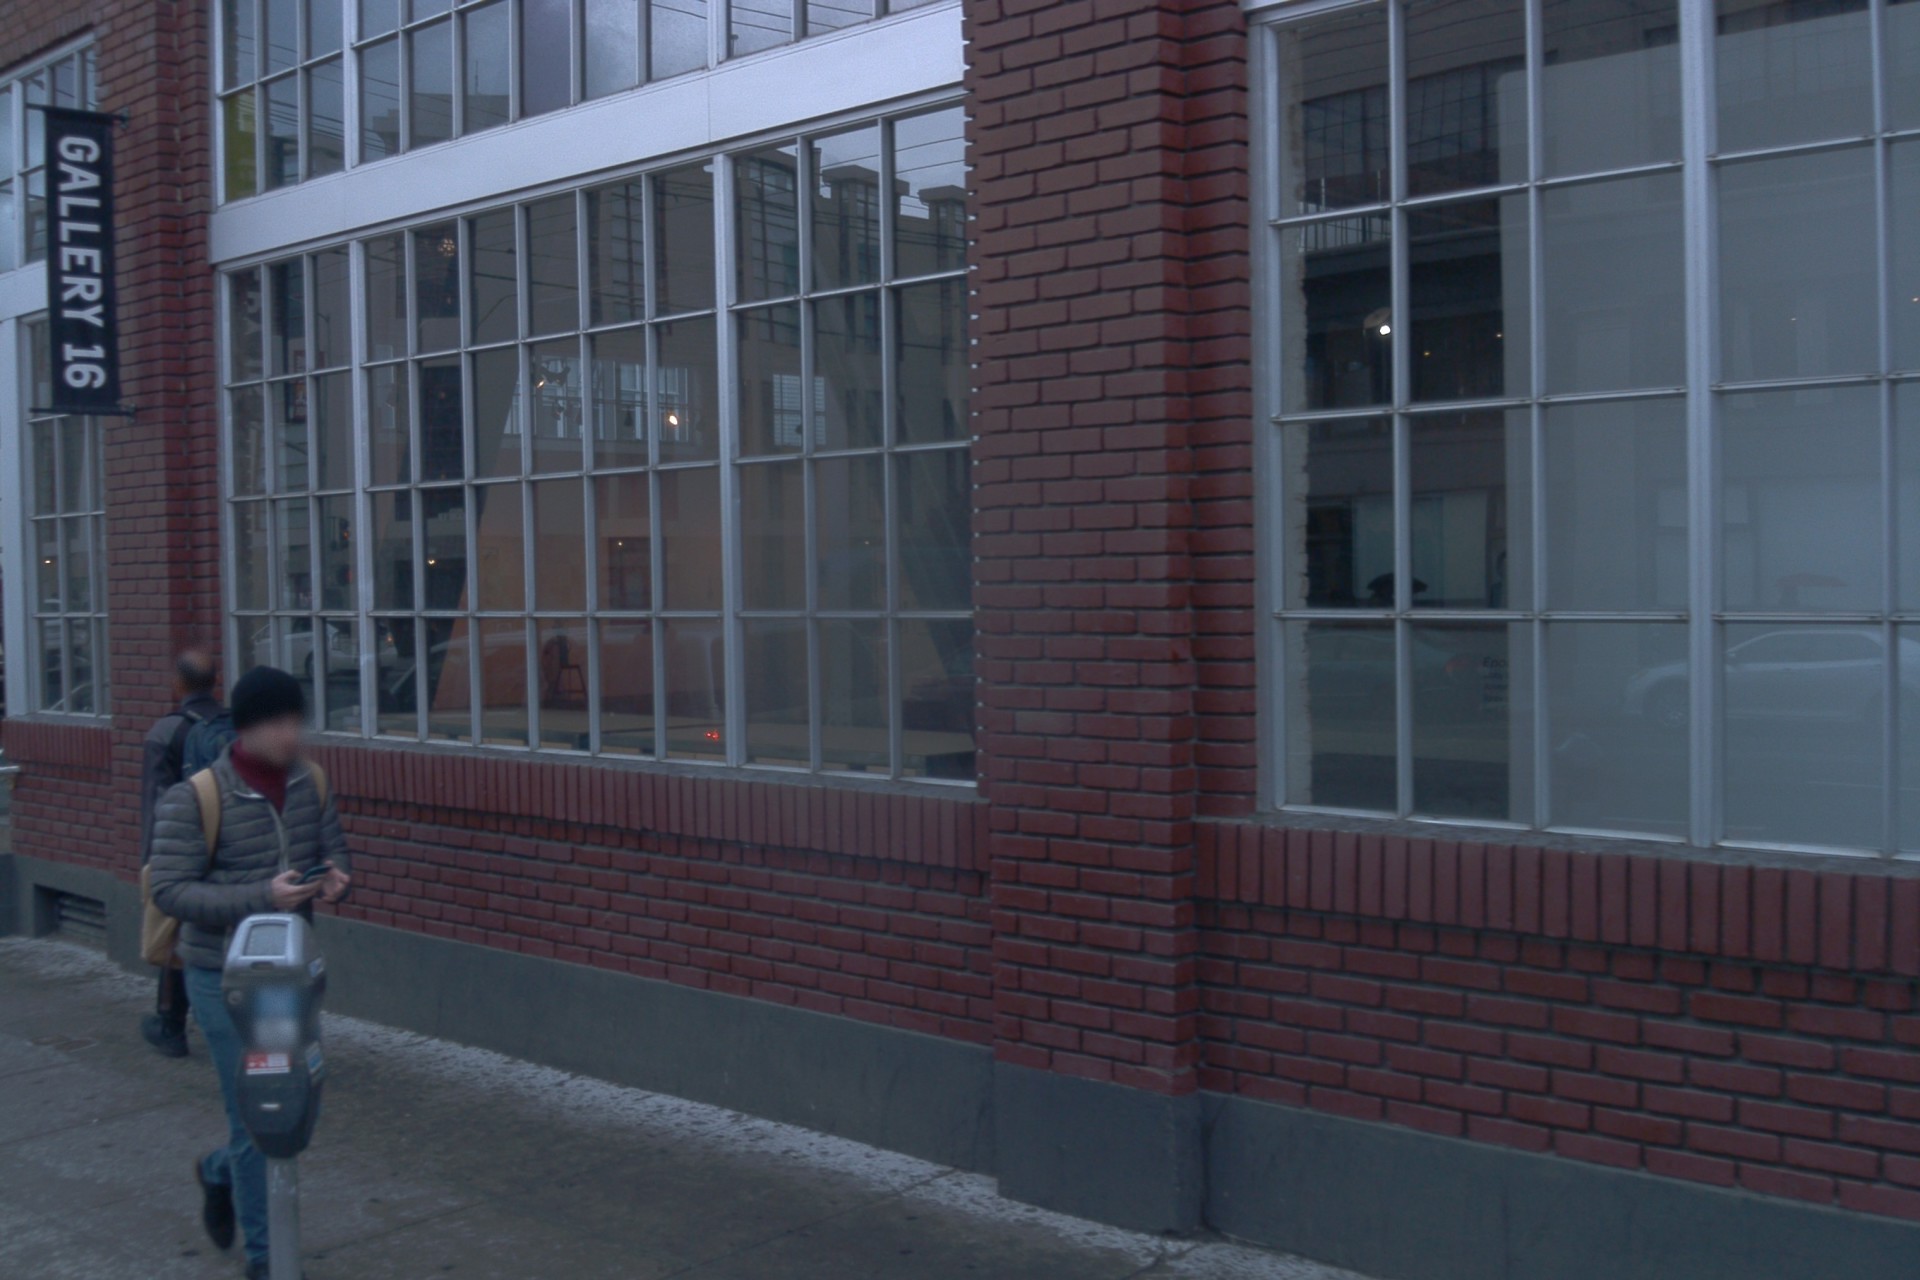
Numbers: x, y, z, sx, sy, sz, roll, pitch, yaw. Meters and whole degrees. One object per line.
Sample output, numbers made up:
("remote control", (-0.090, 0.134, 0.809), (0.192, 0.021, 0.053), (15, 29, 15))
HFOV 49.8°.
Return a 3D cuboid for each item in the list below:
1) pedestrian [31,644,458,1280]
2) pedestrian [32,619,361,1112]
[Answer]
("pedestrian", (-1.997, 0.926, 5.776), (0.921, 1.820, 0.758), (0, -1, 42))
("pedestrian", (-3.082, 0.837, 8.336), (1.145, 1.820, 0.807), (0, -1, 44))
